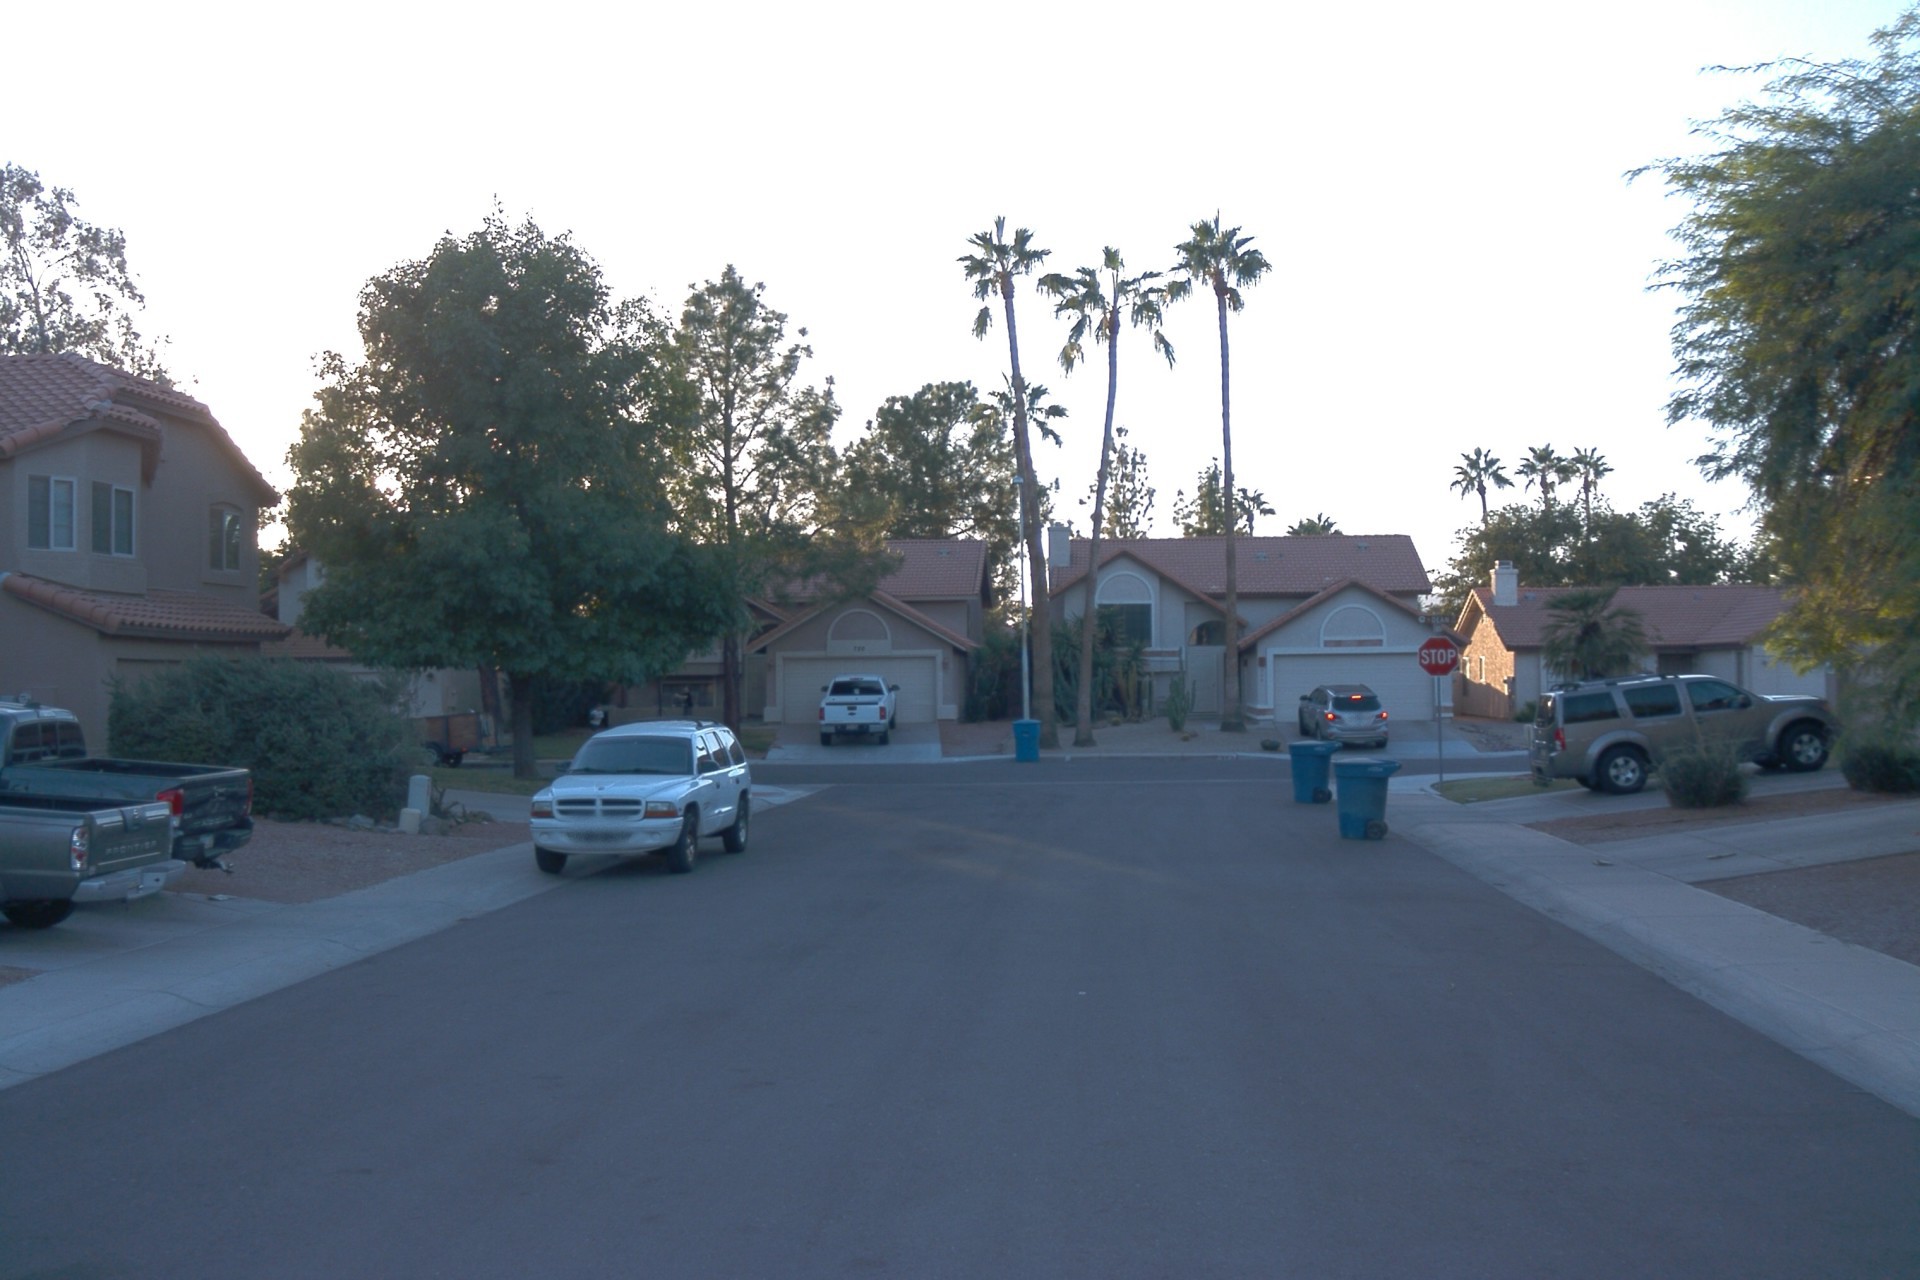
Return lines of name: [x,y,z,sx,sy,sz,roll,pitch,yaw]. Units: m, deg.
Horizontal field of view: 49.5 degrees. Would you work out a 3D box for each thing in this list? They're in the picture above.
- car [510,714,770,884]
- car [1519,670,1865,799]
car: [-3.834,1.881,25.897,2.045,1.830,4.911,0,-1,6]
car: [11.598,1.478,33.231,4.769,1.980,2.134,0,-1,2]
